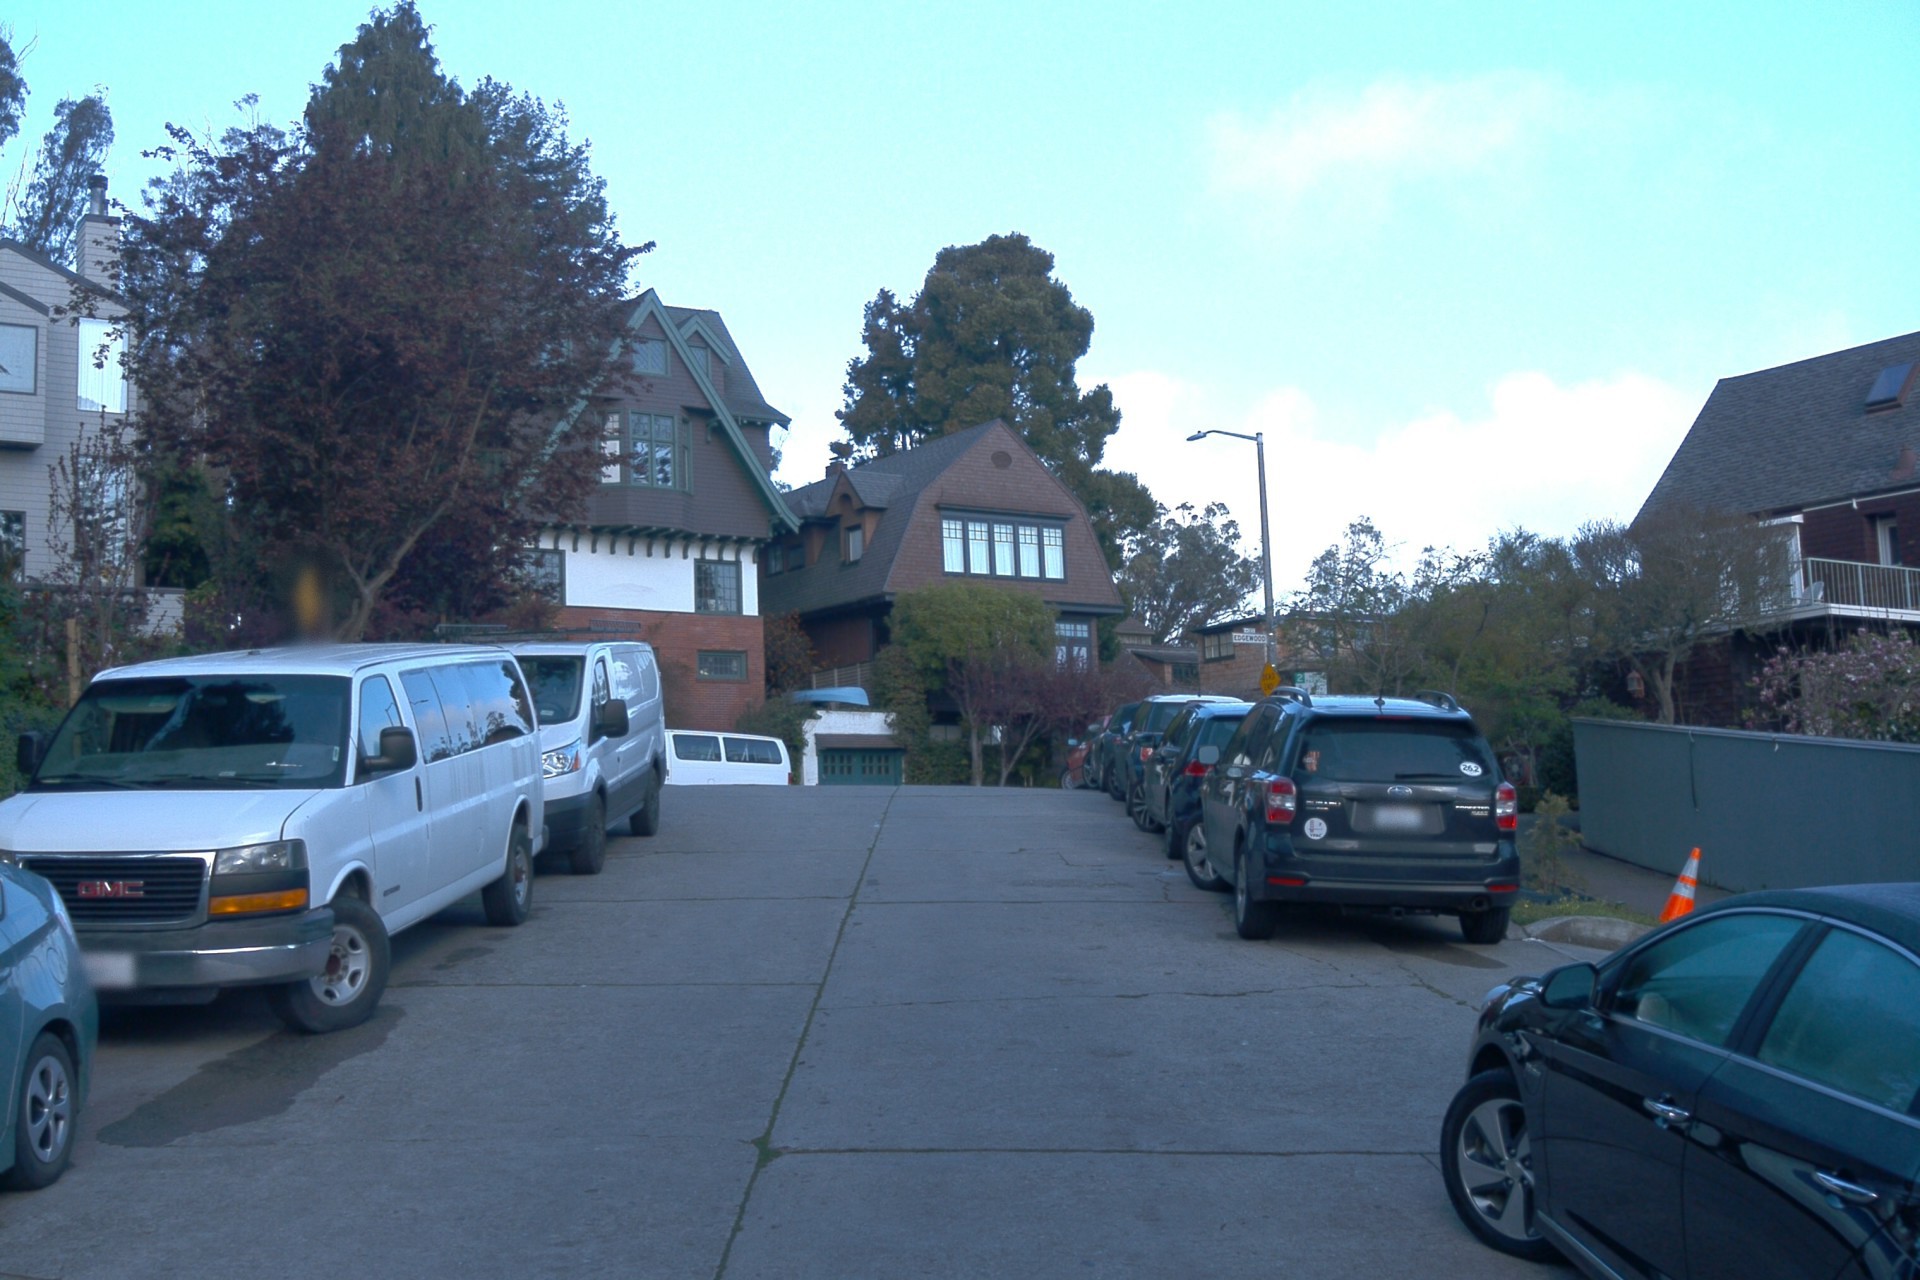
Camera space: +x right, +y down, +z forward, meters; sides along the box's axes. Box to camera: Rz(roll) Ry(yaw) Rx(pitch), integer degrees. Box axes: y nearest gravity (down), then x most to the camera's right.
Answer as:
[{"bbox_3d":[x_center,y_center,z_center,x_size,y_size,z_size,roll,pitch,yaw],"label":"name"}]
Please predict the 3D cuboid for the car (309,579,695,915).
[{"bbox_3d":[-4.169,0.887,19.979,2.479,2.779,5.830,0,0,-1],"label":"car"}]

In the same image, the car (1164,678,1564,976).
[{"bbox_3d":[2.809,1.235,15.463,2.162,1.810,4.637,0,0,1],"label":"car"}]

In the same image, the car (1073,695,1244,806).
[{"bbox_3d":[2.739,1.517,29.379,1.899,1.350,4.380,0,0,-2],"label":"car"}]

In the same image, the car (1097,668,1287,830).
[{"bbox_3d":[2.711,1.237,24.860,1.912,1.751,3.778,0,0,1],"label":"car"}]

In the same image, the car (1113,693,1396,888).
[{"bbox_3d":[2.775,1.385,20.421,2.063,1.611,4.337,0,0,-2],"label":"car"}]
